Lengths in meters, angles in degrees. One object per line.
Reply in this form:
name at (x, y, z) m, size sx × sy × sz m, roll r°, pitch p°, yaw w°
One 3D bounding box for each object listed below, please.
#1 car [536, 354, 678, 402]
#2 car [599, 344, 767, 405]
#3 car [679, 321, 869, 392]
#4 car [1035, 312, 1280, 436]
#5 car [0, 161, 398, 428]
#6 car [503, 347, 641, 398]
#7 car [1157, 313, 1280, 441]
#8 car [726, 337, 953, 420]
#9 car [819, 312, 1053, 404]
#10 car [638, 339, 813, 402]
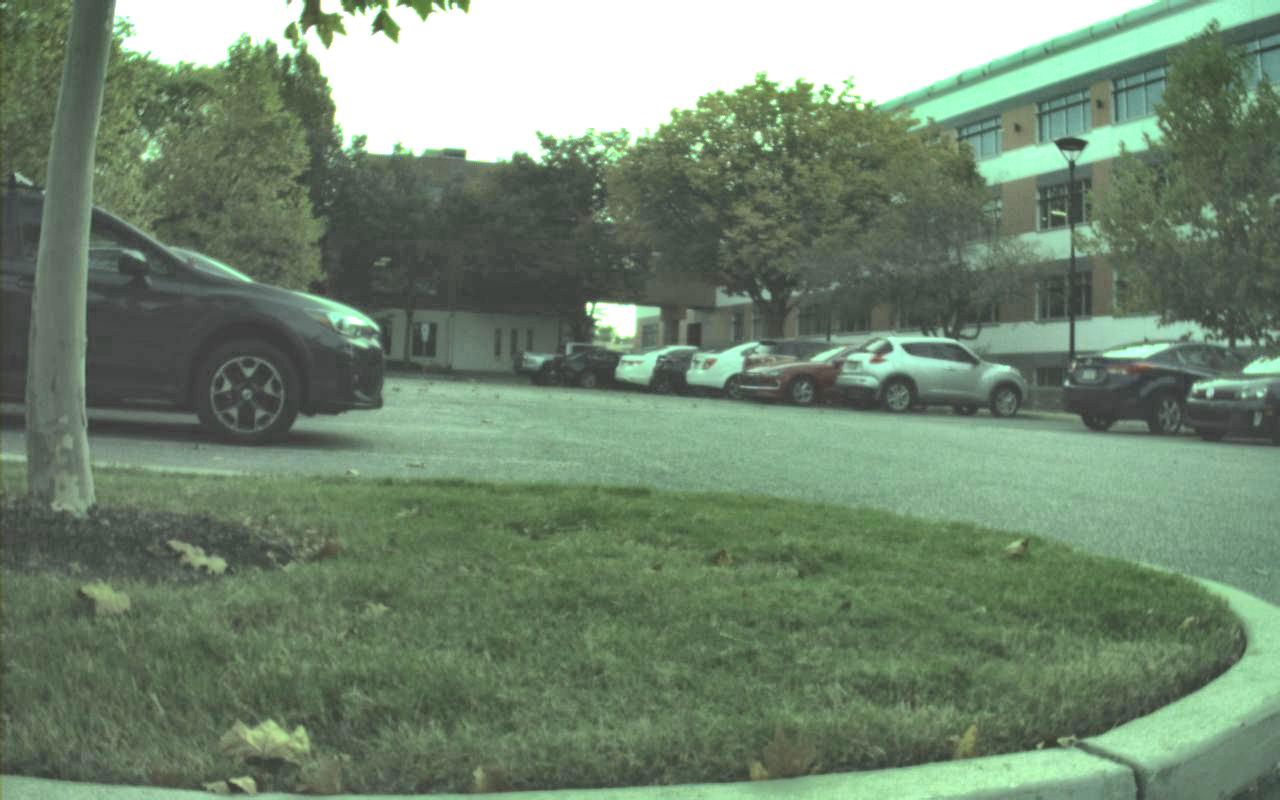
car at (-1.164, -0.782, 44.637) m, size 4.600 × 1.601 × 1.956 m, roll 0°, pitch 1°, yaw -27°
car at (1.244, -0.745, 37.350) m, size 4.590 × 1.719 × 1.992 m, roll 0°, pitch 1°, yaw -16°
car at (3.447, -1.090, 32.509) m, size 4.521 × 1.754 × 1.973 m, roll 0°, pitch 1°, yaw -15°
car at (8.256, -0.349, 17.524) m, size 4.583 × 1.665 × 1.970 m, roll 0°, pitch 1°, yaw -17°
car at (-3.941, -0.650, 7.761) m, size 4.457 × 1.614 × 1.939 m, roll 0°, pitch 1°, yaw -21°
car at (-2.685, -1.075, 49.440) m, size 5.020 × 1.917 × 2.094 m, roll 0°, pitch 1°, yaw -19°
car at (9.232, -0.264, 15.338) m, size 4.394 × 1.562 × 1.908 m, roll 0°, pitch 1°, yaw -17°
car at (4.347, -0.462, 27.310) m, size 4.590 × 1.702 × 1.977 m, roll 0°, pitch 1°, yaw -14°
car at (6.024, -0.805, 25.026) m, size 4.447 × 1.728 × 1.938 m, roll 0°, pitch 1°, yaw -16°
car at (2.357, -0.805, 34.895) m, size 4.464 × 1.652 × 1.953 m, roll 0°, pitch 1°, yaw -18°
